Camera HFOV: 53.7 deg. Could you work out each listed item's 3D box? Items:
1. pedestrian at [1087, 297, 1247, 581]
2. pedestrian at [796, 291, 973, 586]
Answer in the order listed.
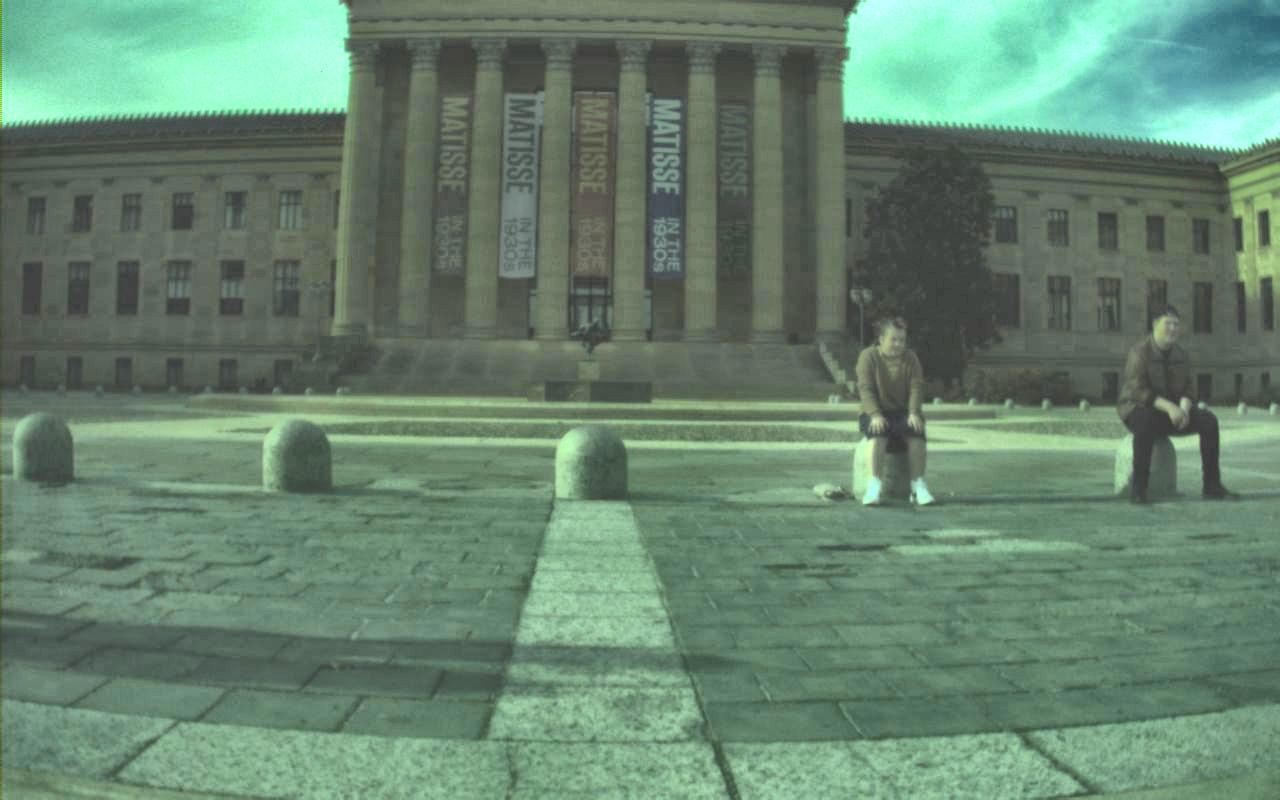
[{"bbox_3d":[3.540,0.256,7.865,0.840,1.802,0.838,0,0,0],"label":"pedestrian"},{"bbox_3d":[1.547,0.227,7.909,0.825,1.760,0.810,0,0,-19],"label":"pedestrian"}]
